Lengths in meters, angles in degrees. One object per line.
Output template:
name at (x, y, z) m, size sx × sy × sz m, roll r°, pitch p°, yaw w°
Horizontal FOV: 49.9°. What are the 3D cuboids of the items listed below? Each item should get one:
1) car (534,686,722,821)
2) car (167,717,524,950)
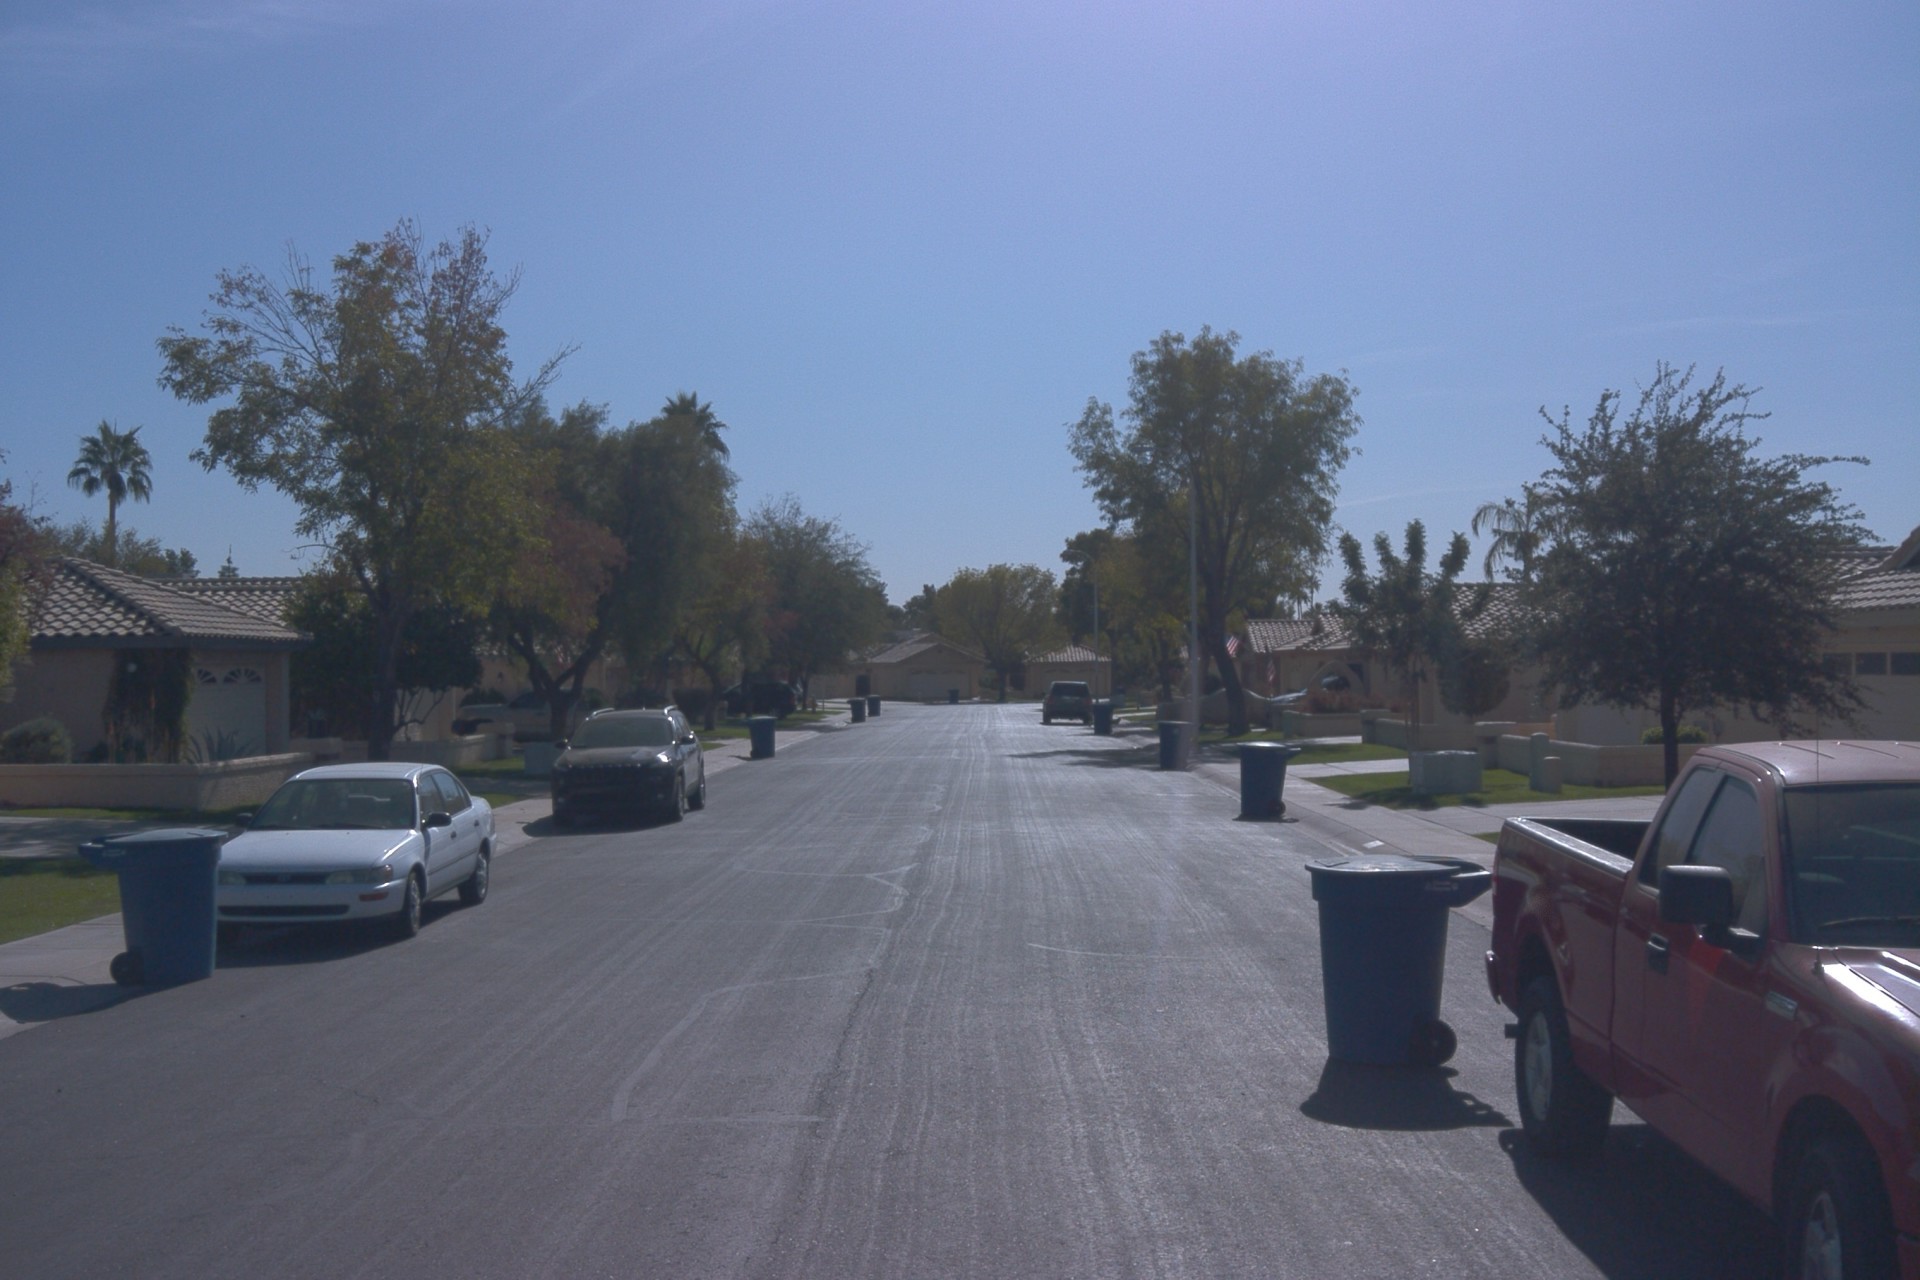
car at (-4.932, 1.646, 31.262) m, size 2.082 × 1.820 × 4.660 m, roll 0°, pitch 0°, yaw 0°
car at (-5.286, 1.600, 18.368) m, size 1.886 × 1.690 × 4.365 m, roll 0°, pitch 0°, yaw 0°
